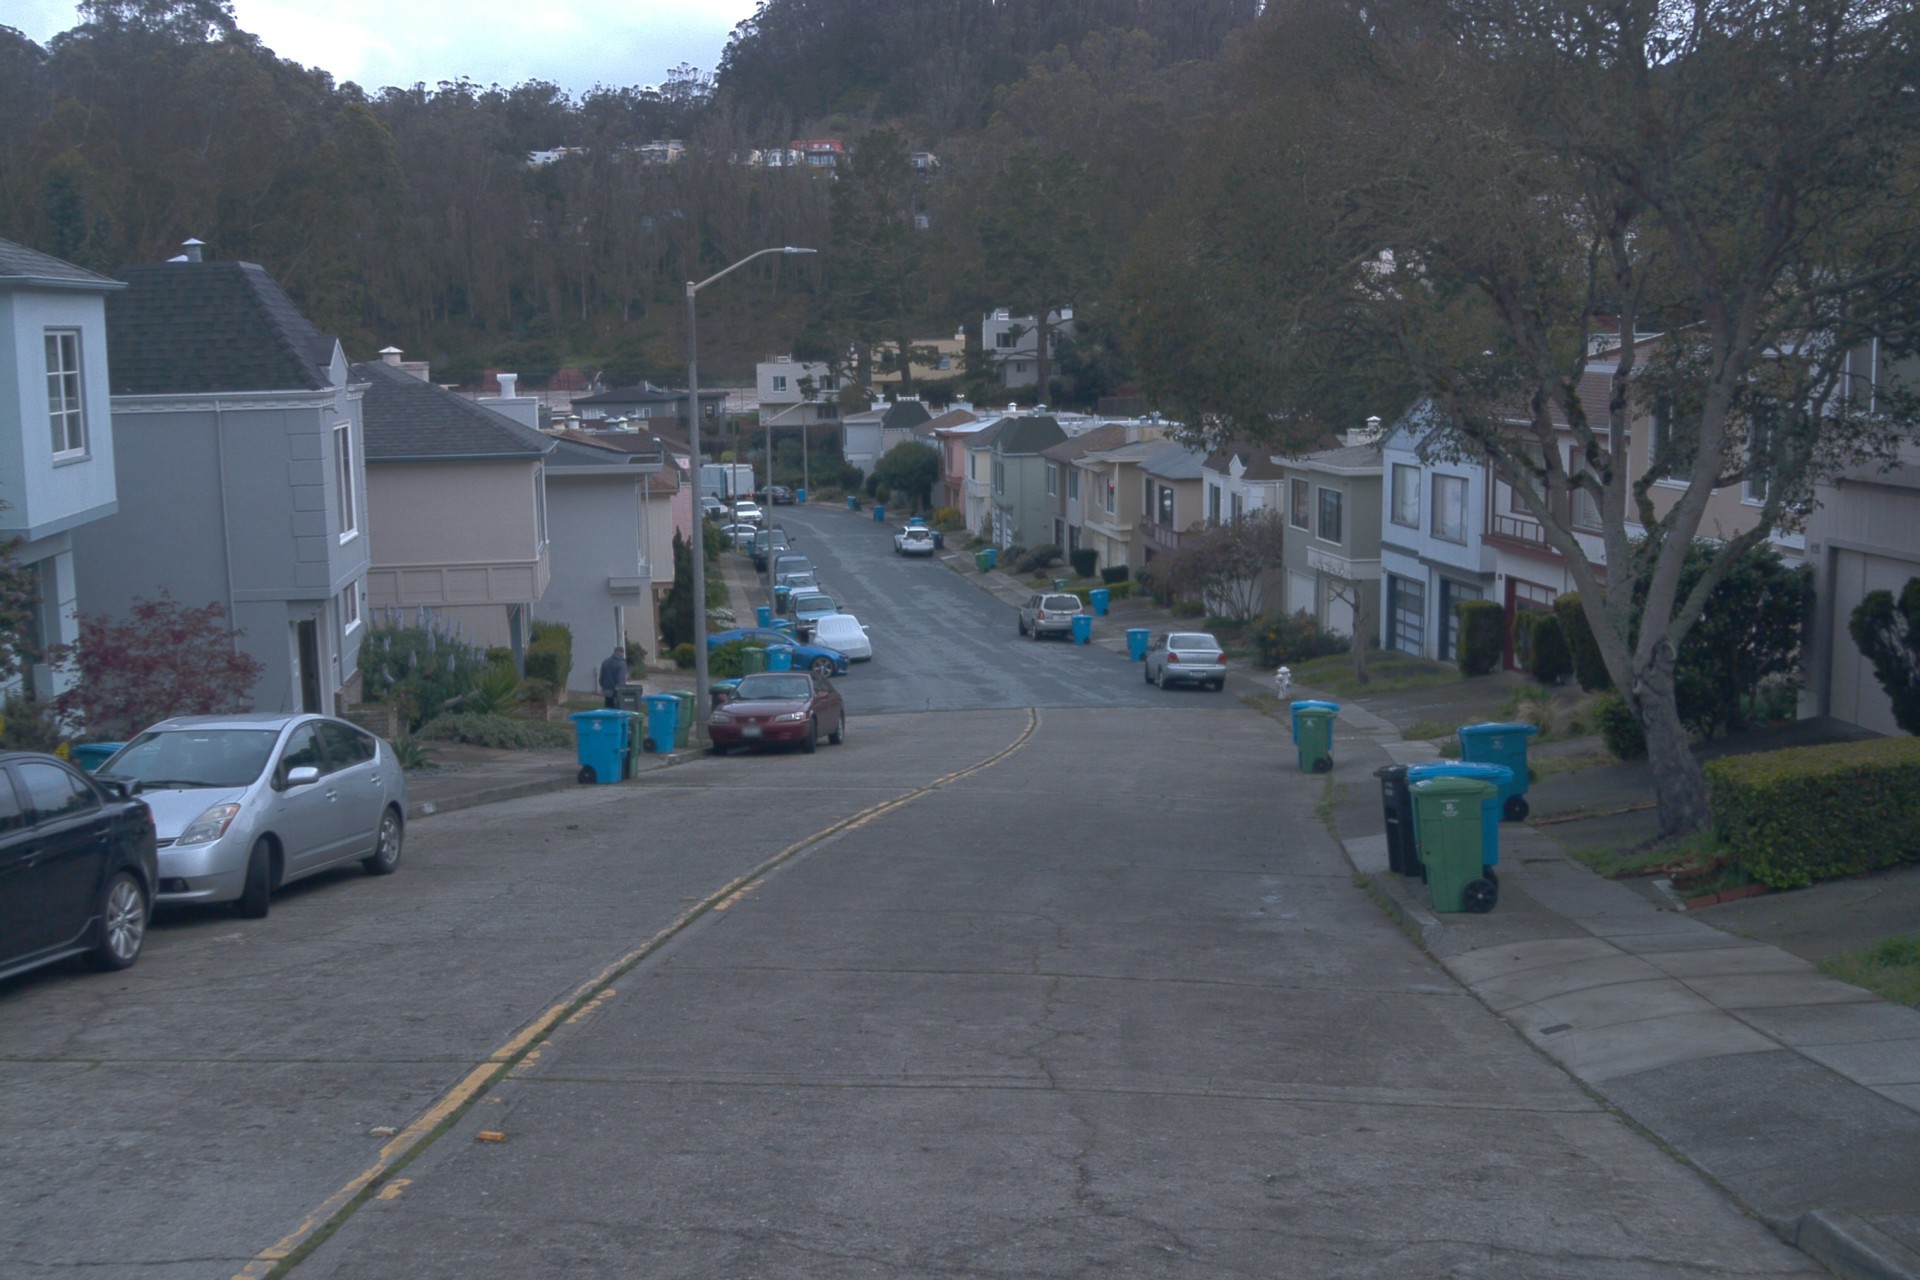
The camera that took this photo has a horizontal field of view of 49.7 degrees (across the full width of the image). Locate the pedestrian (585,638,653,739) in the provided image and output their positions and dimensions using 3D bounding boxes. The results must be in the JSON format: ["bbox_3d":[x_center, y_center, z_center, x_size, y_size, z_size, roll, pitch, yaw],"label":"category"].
[{"bbox_3d":[-5.875,0.829,35.779,1.000,1.730,1.000,0,0,1],"label":"pedestrian"}]

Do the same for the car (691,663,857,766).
[{"bbox_3d":[-3.204,1.261,36.648,2.008,1.660,4.690,0,0,7],"label":"car"}]
